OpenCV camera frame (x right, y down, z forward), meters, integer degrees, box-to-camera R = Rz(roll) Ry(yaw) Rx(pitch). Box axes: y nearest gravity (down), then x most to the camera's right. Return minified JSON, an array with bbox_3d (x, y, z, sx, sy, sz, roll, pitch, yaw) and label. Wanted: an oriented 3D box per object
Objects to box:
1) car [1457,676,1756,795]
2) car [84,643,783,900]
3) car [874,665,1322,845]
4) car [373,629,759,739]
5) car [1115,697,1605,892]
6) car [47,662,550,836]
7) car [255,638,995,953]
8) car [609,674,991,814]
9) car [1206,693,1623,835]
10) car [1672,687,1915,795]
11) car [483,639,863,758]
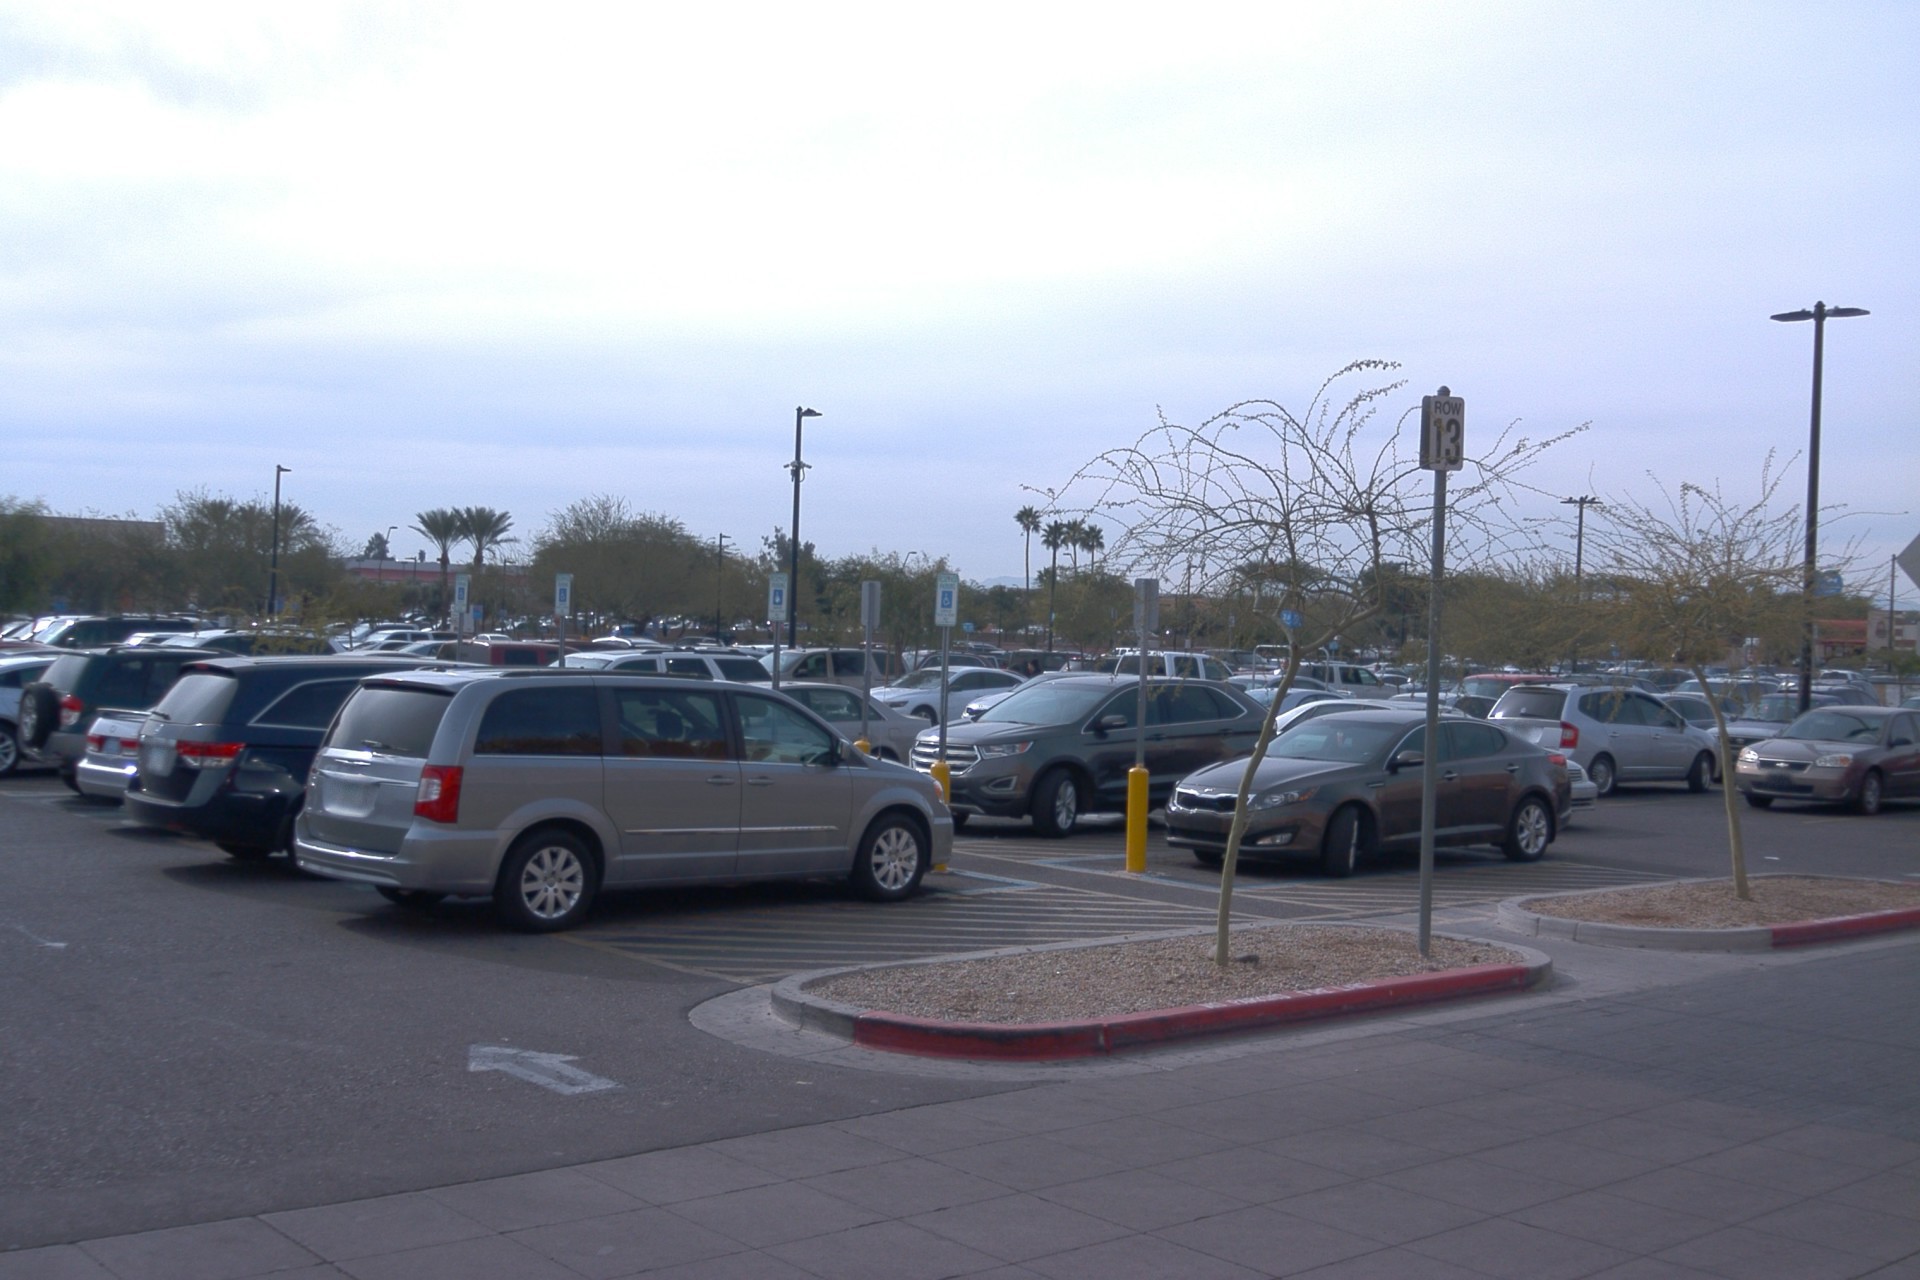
[{"bbox_3d":[9.978,1.425,31.872,4.752,1.660,2.105,2,-1,-40],"label":"car"},{"bbox_3d":[-4.326,1.015,17.729,5.324,1.850,2.261,2,-1,-43],"label":"car"},{"bbox_3d":[1.600,1.199,22.825,4.789,1.740,2.142,2,-1,-42],"label":"car"},{"bbox_3d":[-5.629,0.639,30.075,5.056,1.450,2.220,2,-1,-42],"label":"car"},{"bbox_3d":[3.968,1.399,20.115,4.784,1.610,2.143,2,-1,-41],"label":"car"},{"bbox_3d":[-6.406,1.015,20.406,4.279,1.500,1.896,2,-1,-43],"label":"car"},{"bbox_3d":[-2.299,1.015,15.361,5.067,1.930,2.133,2,-1,-44],"label":"car"},{"bbox_3d":[-1.914,1.237,25.852,2.059,1.550,4.458,0,-1,45],"label":"car"},{"bbox_3d":[5.610,1.483,26.149,2.015,1.500,4.863,2,-1,-41],"label":"car"},{"bbox_3d":[14.292,1.692,35.489,4.419,1.690,2.034,2,-1,-41],"label":"car"},{"bbox_3d":[-3.802,0.773,28.040,4.748,1.460,2.027,2,-1,-43],"label":"car"}]
